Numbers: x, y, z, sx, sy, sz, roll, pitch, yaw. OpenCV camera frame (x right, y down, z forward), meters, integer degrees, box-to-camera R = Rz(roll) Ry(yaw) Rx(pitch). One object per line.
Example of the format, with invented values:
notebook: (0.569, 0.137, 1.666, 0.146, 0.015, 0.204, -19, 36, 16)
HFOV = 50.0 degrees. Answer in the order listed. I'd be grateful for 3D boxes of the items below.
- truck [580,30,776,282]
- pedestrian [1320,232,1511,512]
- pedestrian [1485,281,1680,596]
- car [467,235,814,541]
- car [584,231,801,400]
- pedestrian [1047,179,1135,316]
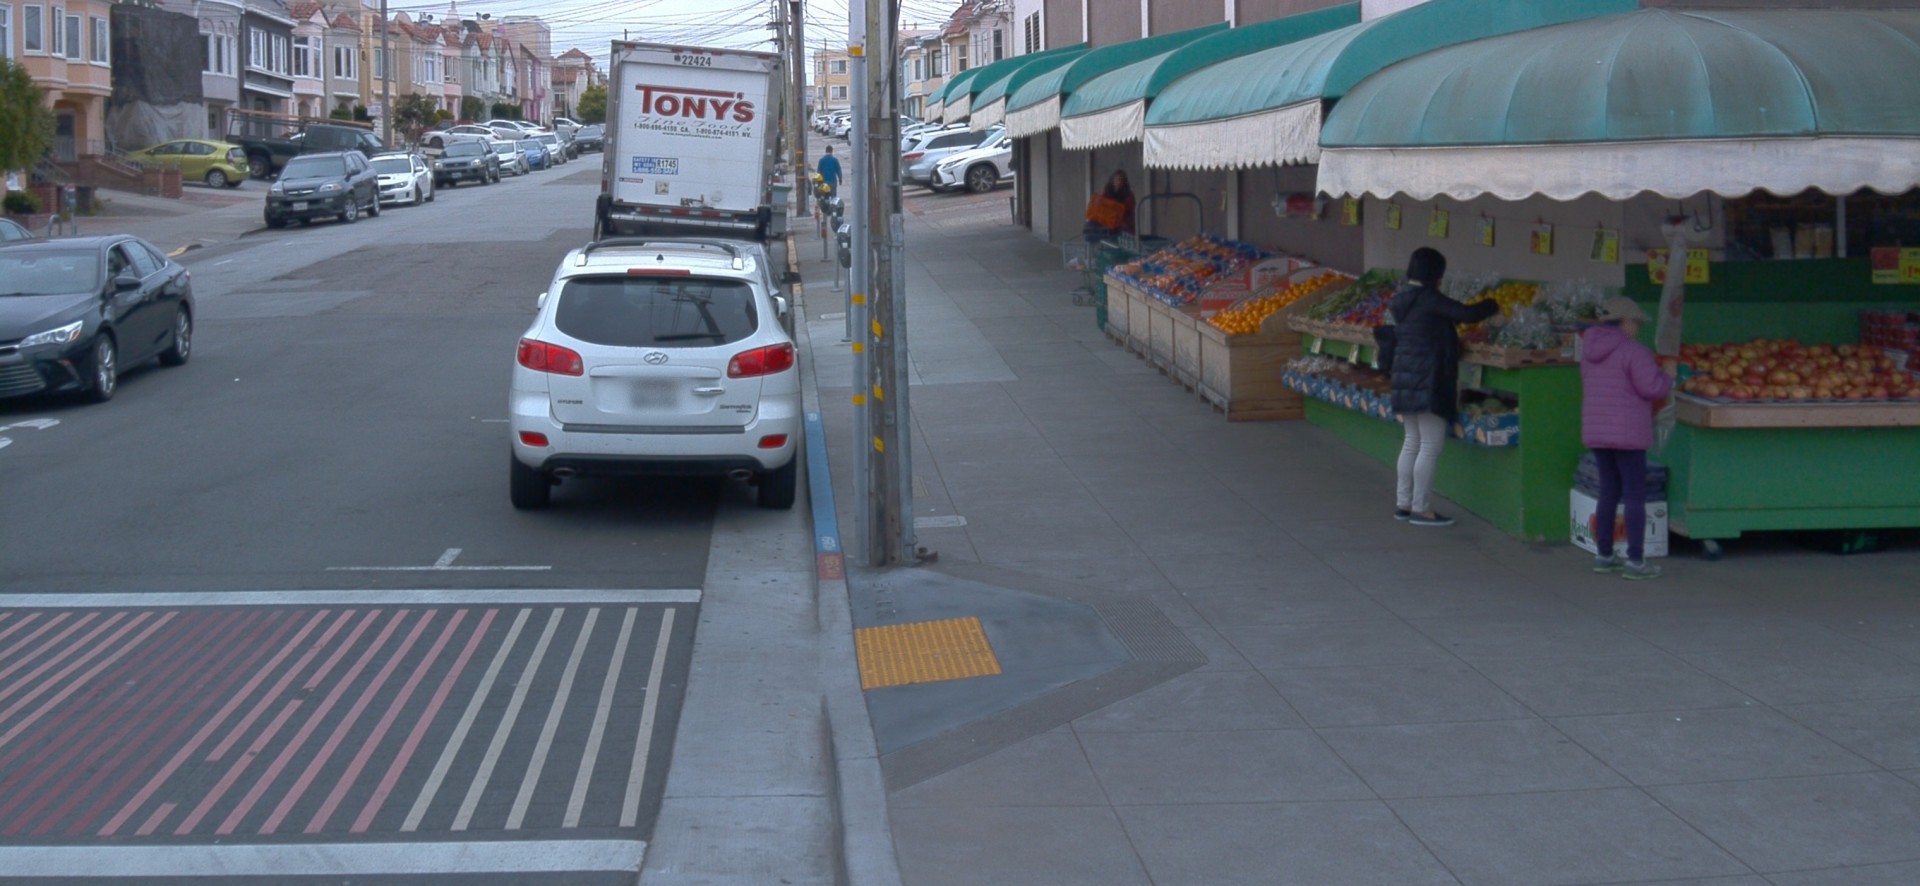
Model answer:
truck: (-4.698, -4.850, 36.017, 2.914, 3.770, 10.115, 0, 5, -5)
pedestrian: (2.728, -0.463, 12.378, 0.796, 1.607, 0.823, -1, 2, -21)
pedestrian: (3.253, -0.056, 10.807, 0.704, 1.564, 0.799, 0, 2, -8)
car: (-2.245, -0.572, 14.901, 2.105, 1.832, 4.565, -1, 5, -7)
car: (-2.723, -1.408, 21.162, 1.969, 1.513, 4.609, -1, 6, -7)
pedestrian: (1.698, -2.536, 26.639, 0.888, 1.737, 0.722, -2, 3, -42)
